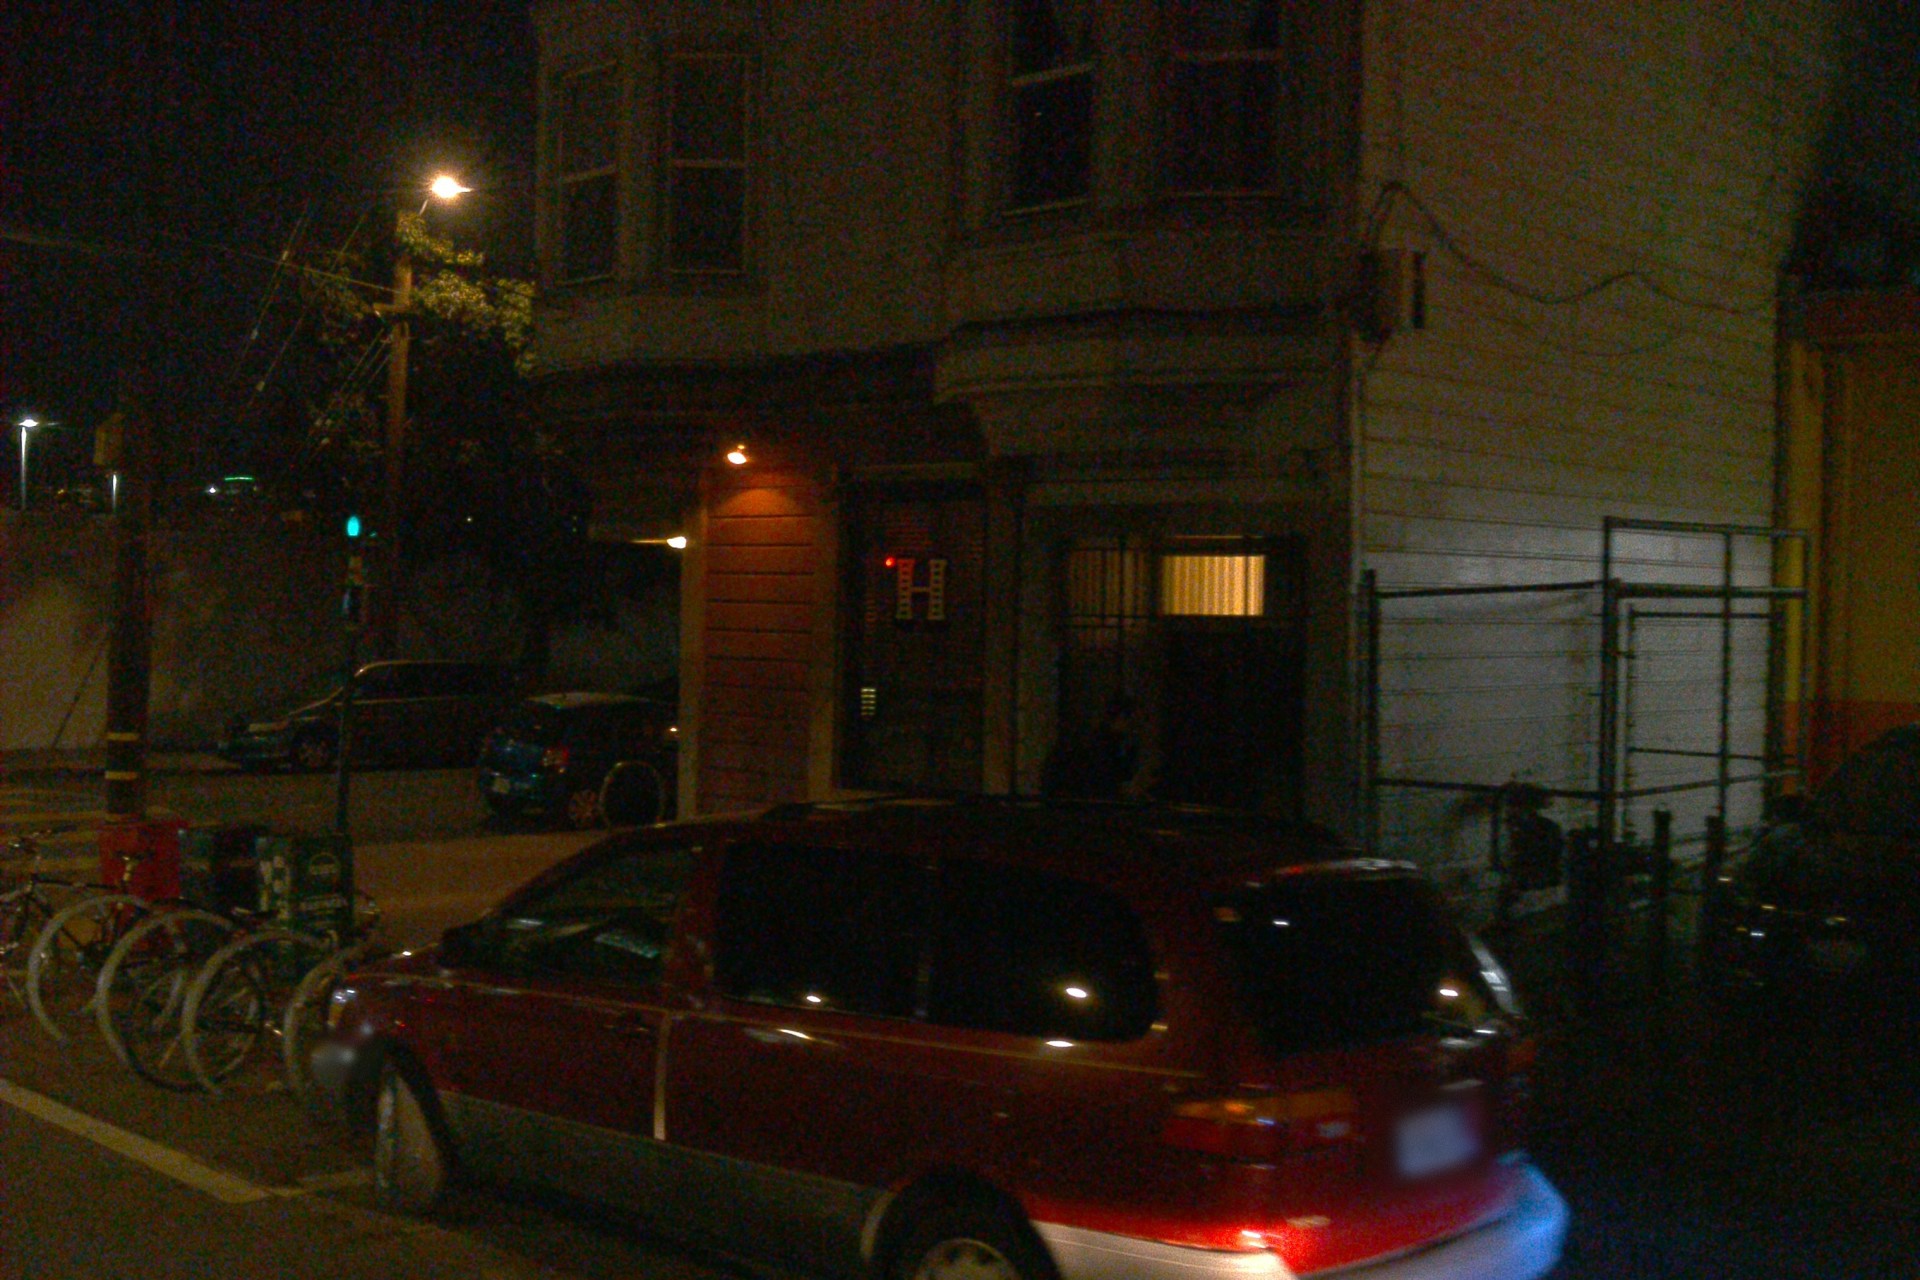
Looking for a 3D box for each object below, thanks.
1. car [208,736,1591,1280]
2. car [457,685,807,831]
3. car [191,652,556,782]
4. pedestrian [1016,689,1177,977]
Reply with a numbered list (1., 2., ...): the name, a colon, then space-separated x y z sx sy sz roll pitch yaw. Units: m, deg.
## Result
1. car: -0.544 1.370 7.553 5.035 1.850 2.087 0 -1 43
2. car: -3.909 1.358 25.042 3.809 1.590 1.825 1 -1 -44
3. car: -9.030 1.139 32.199 5.086 1.850 2.098 1 -1 -45
4. pedestrian: 0.873 1.226 13.452 0.863 1.799 0.779 0 0 -9
